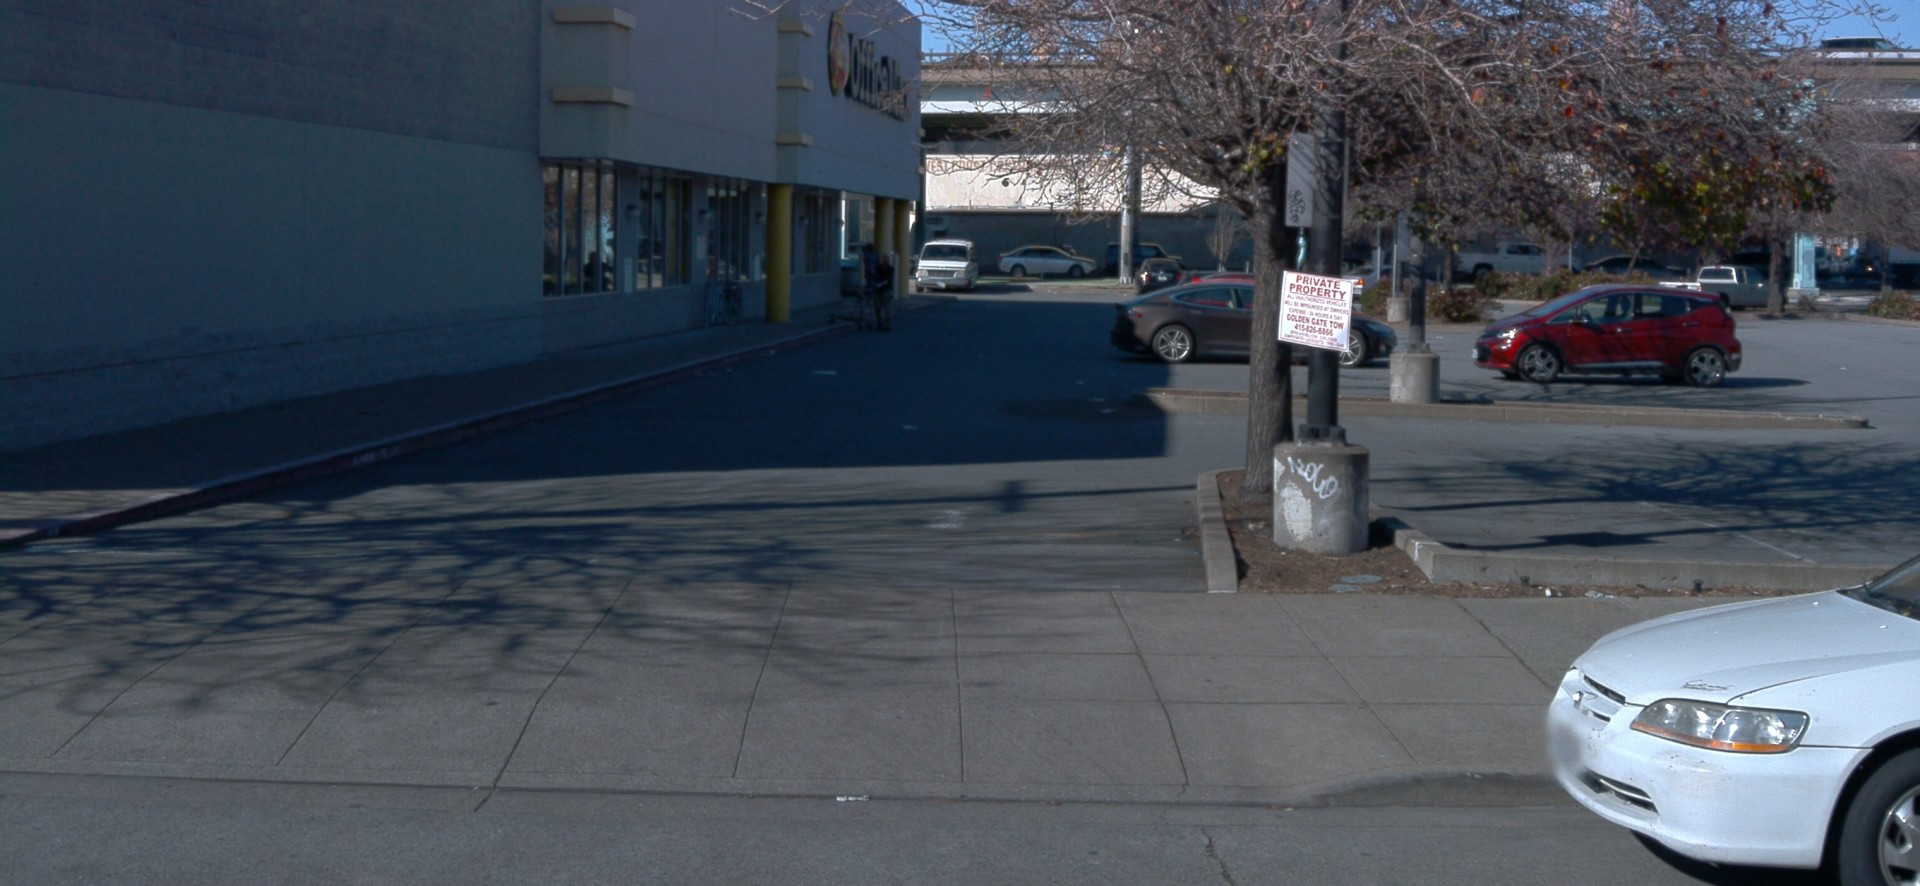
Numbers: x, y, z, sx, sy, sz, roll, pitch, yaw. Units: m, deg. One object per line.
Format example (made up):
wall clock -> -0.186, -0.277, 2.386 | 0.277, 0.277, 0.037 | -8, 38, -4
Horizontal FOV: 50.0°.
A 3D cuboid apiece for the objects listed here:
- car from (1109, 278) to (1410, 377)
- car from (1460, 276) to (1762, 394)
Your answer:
car -> 5.140, -2.041, 35.898 | 5.044, 1.525, 1.995 | 1, 4, 5
car -> 10.284, -1.750, 32.758 | 4.156, 1.695, 2.038 | 1, 4, 2
